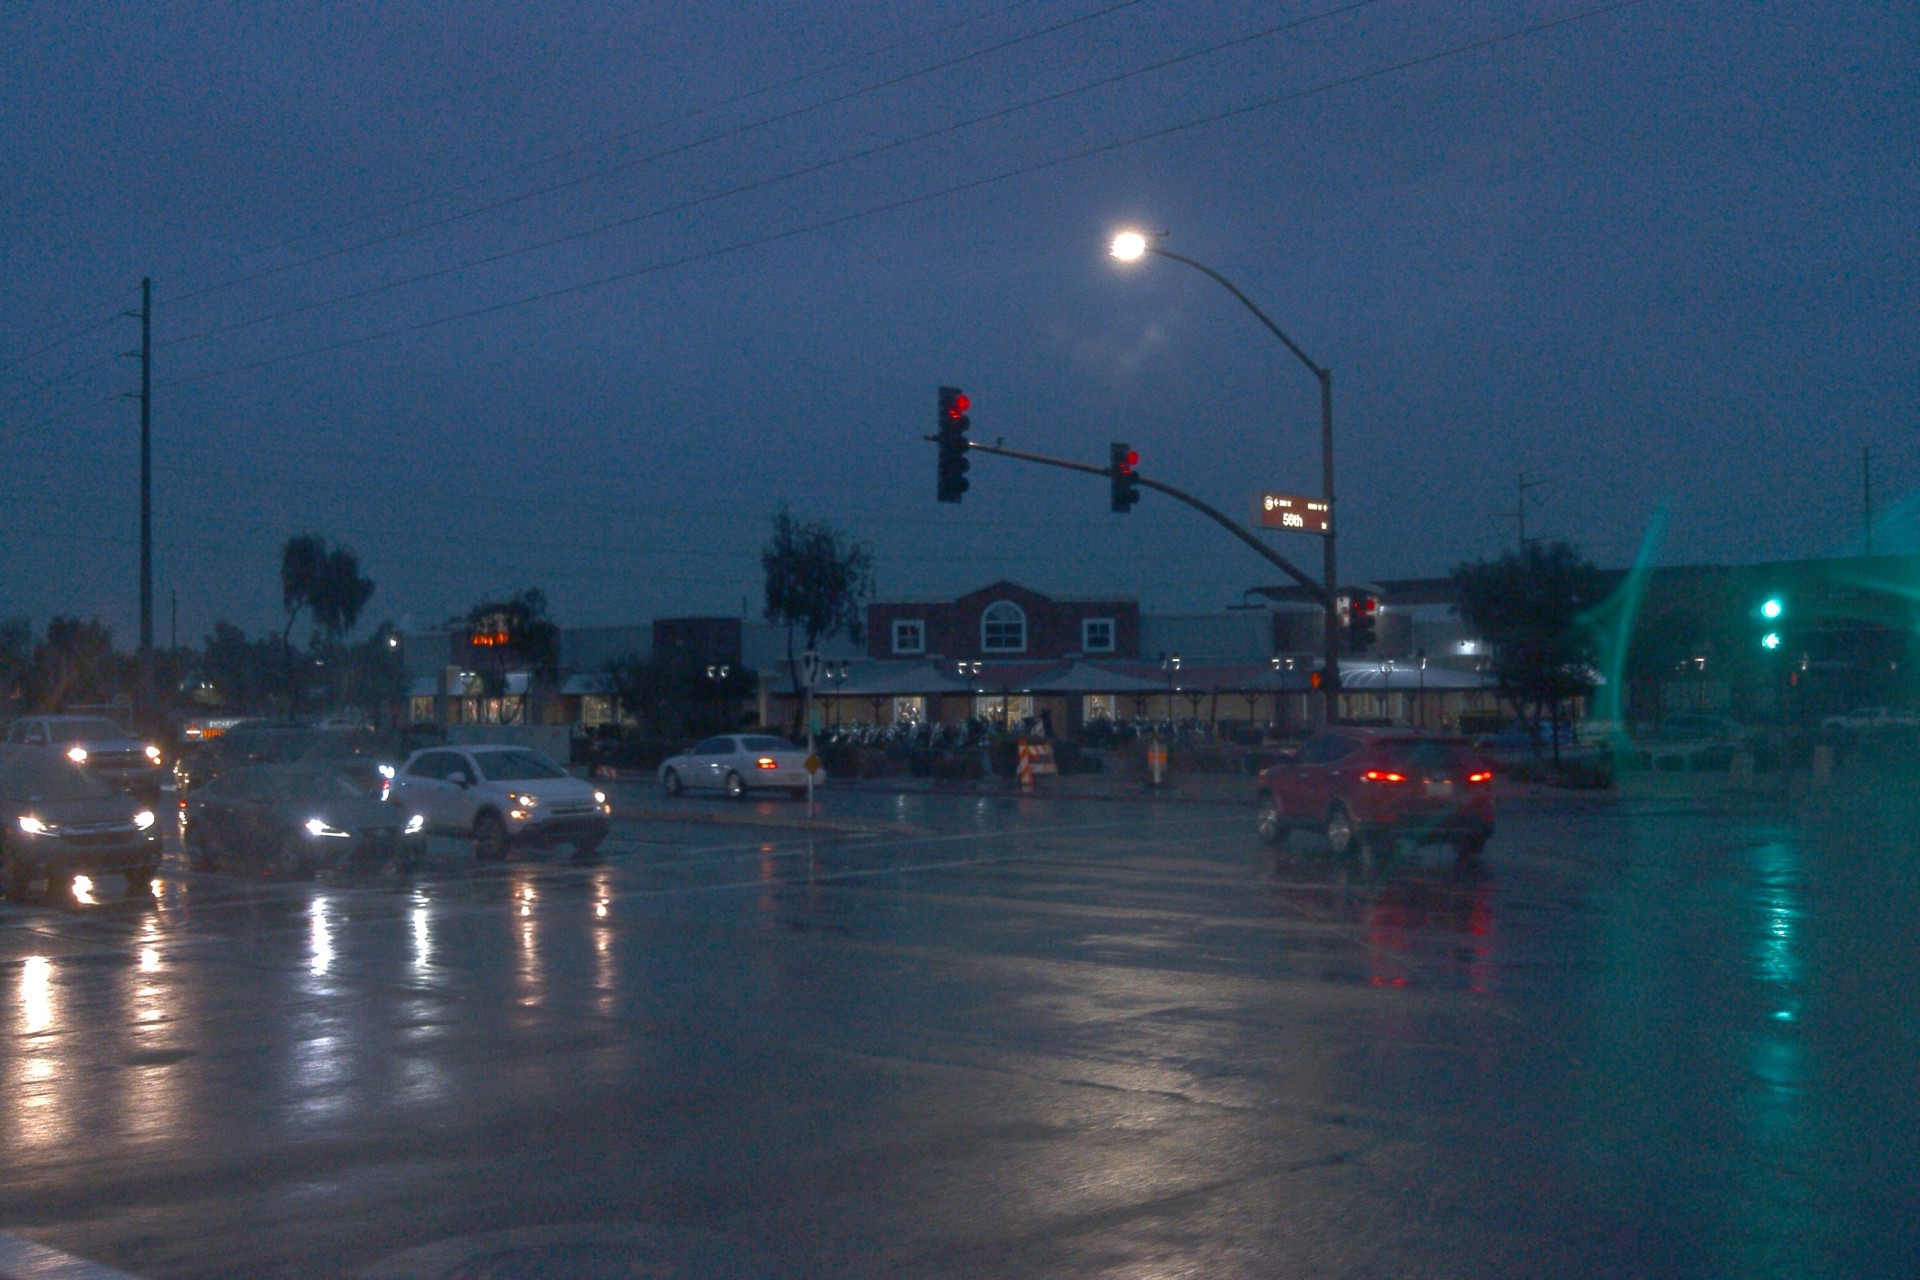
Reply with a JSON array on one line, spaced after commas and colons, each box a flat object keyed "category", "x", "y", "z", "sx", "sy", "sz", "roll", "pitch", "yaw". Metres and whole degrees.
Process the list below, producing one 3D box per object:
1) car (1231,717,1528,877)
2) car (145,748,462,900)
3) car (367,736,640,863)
[{"category": "car", "x": 5.471, "y": 2.001, "z": 27.940, "sx": 2.265, "sy": 1.820, "sz": 4.664, "roll": 0, "pitch": -1, "yaw": -12}, {"category": "car", "x": -9.134, "y": 2.458, "z": 28.801, "sx": 4.666, "sy": 1.730, "sz": 2.267, "roll": -1, "pitch": -1, "yaw": 45}, {"category": "car", "x": -6.912, "y": 2.328, "z": 31.340, "sx": 2.095, "sy": 1.630, "sz": 4.278, "roll": 1, "pitch": -1, "yaw": -44}]
